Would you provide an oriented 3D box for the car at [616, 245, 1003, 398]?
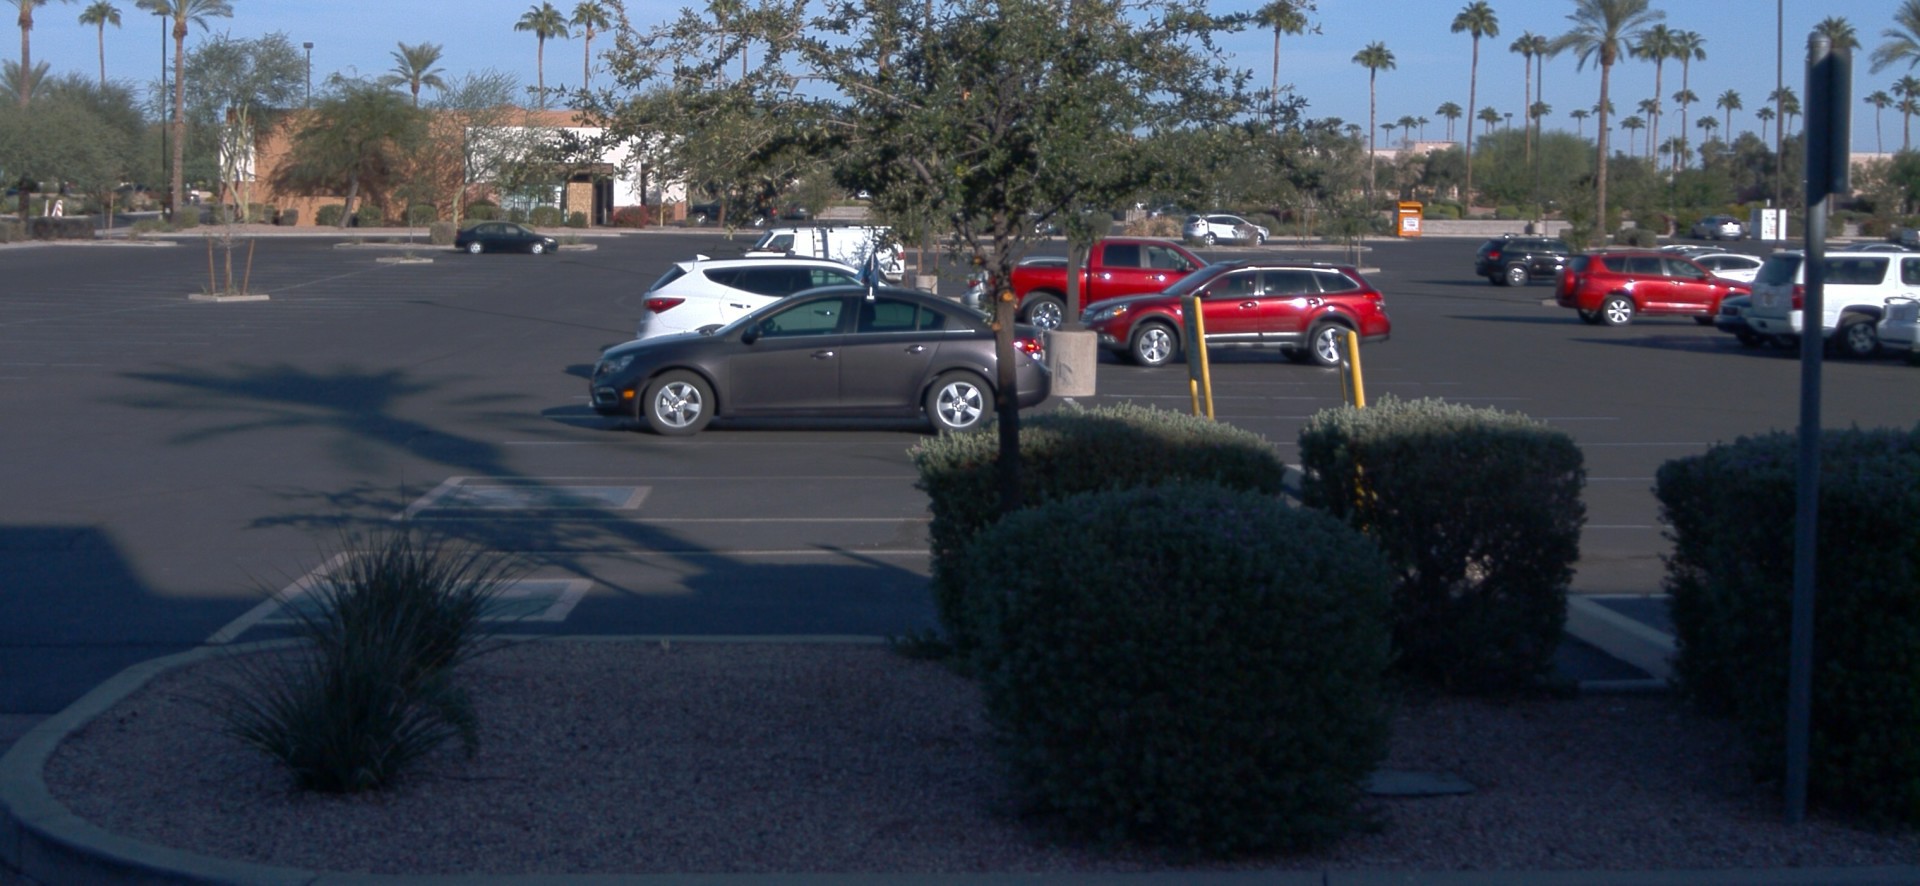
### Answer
[{"bbox_3d":[-1.872,-1.588,26.361,4.706,1.804,2.160,0,4,-3],"label":"car"}]

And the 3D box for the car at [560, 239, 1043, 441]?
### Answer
[{"bbox_3d":[-1.555,-1.093,20.950,4.638,1.874,2.011,0,4,-3],"label":"car"}]

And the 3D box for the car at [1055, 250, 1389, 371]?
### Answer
[{"bbox_3d":[4.055,-2.122,32.569,4.805,1.735,2.226,-1,5,-8],"label":"car"}]

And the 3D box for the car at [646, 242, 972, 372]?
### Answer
[{"bbox_3d":[-2.298,-2.137,32.002,4.850,1.884,2.126,0,4,-3],"label":"car"}]
